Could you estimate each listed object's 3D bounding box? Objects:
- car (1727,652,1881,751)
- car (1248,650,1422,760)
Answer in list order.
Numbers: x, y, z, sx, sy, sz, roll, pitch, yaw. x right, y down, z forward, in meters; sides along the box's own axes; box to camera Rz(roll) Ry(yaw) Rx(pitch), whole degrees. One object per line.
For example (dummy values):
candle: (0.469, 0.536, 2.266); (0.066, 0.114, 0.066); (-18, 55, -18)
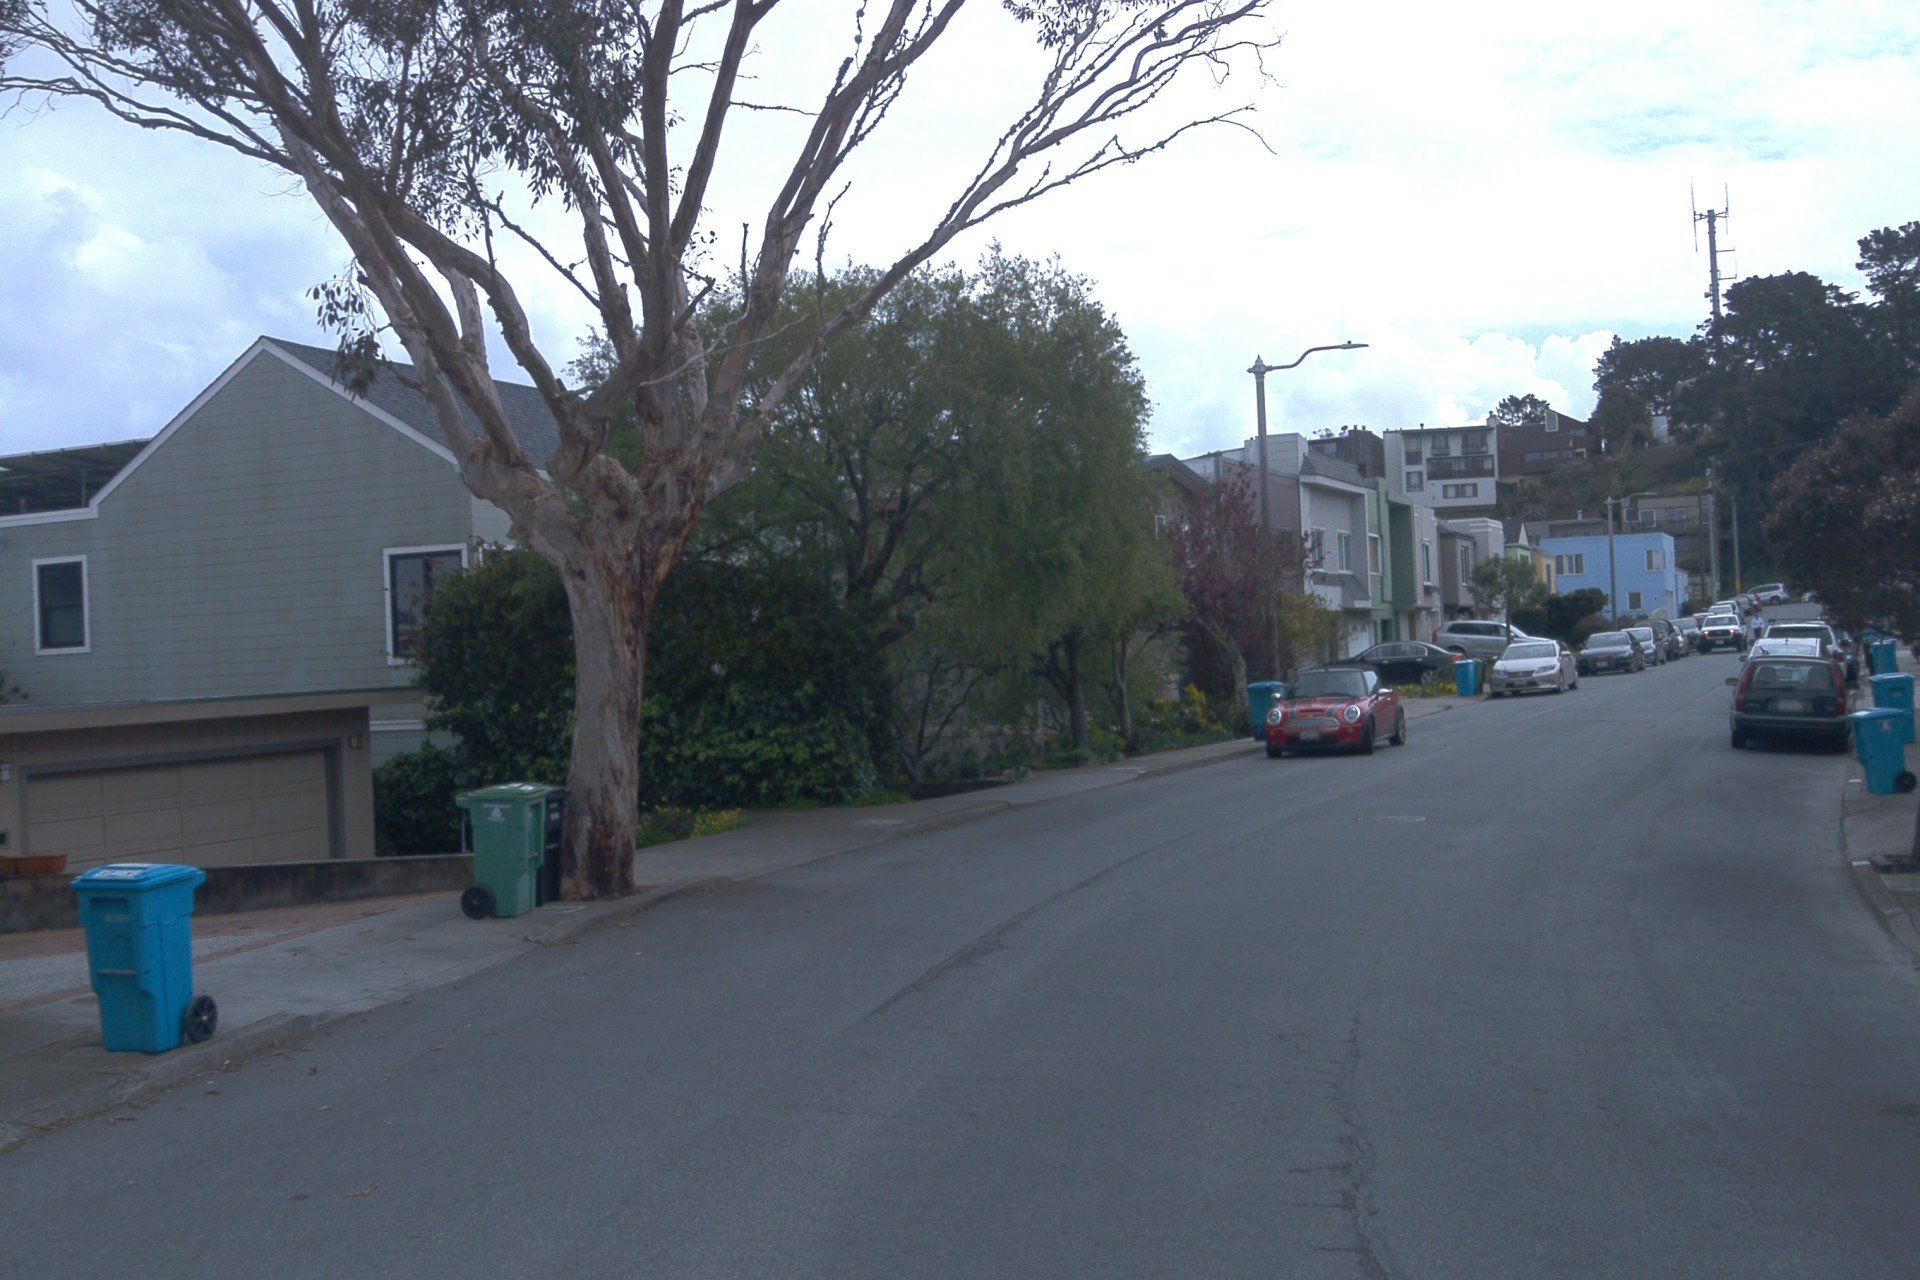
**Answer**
car: (13.163, 0.896, 32.372); (2.072, 1.420, 4.829); (0, 0, 22)
car: (6.150, 1.001, 33.622); (1.996, 1.670, 3.836); (0, 0, 23)
